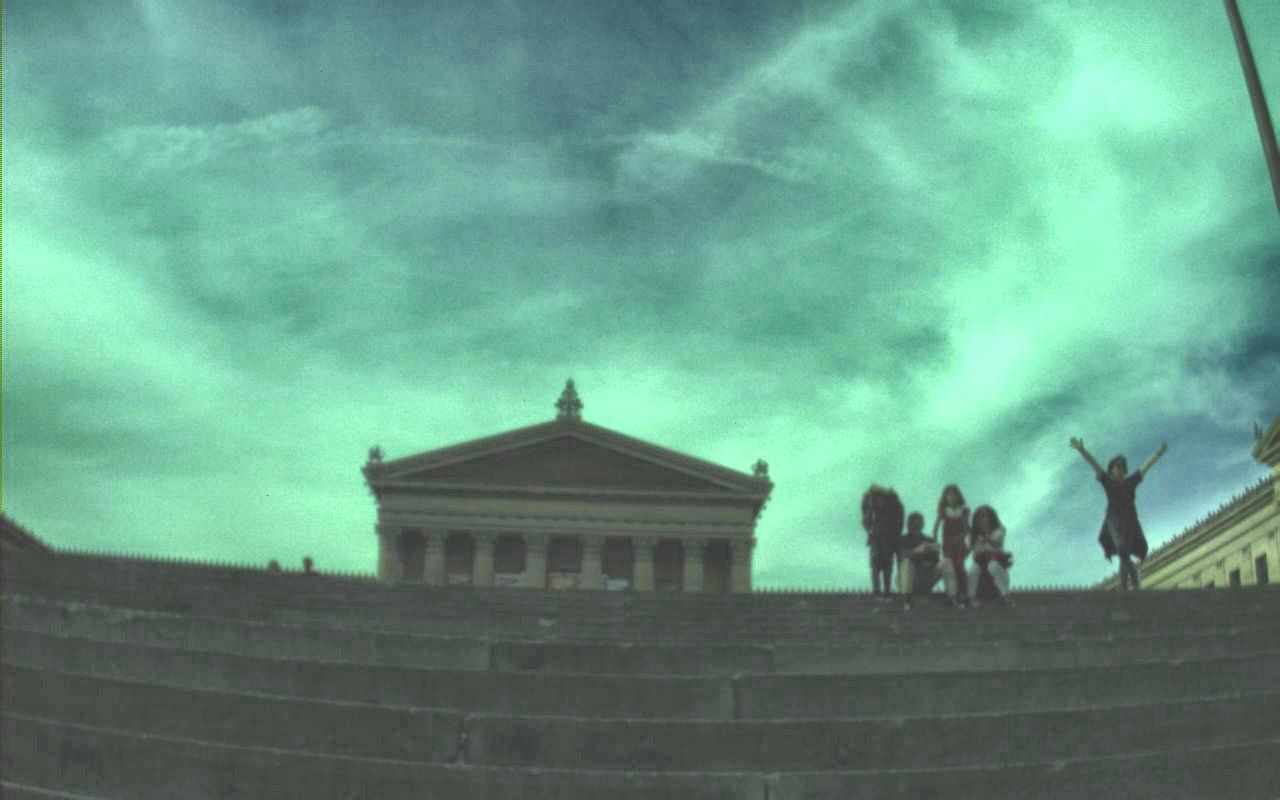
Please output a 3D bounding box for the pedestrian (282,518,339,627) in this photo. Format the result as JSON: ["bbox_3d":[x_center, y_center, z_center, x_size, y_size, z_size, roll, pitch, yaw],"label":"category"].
[{"bbox_3d":[-5.976,3.130,21.897,0.708,1.863,0.718,1,0,38],"label":"pedestrian"}]

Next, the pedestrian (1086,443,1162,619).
[{"bbox_3d":[5.309,1.446,12.908,0.750,1.859,0.734,1,0,25],"label":"pedestrian"}]
